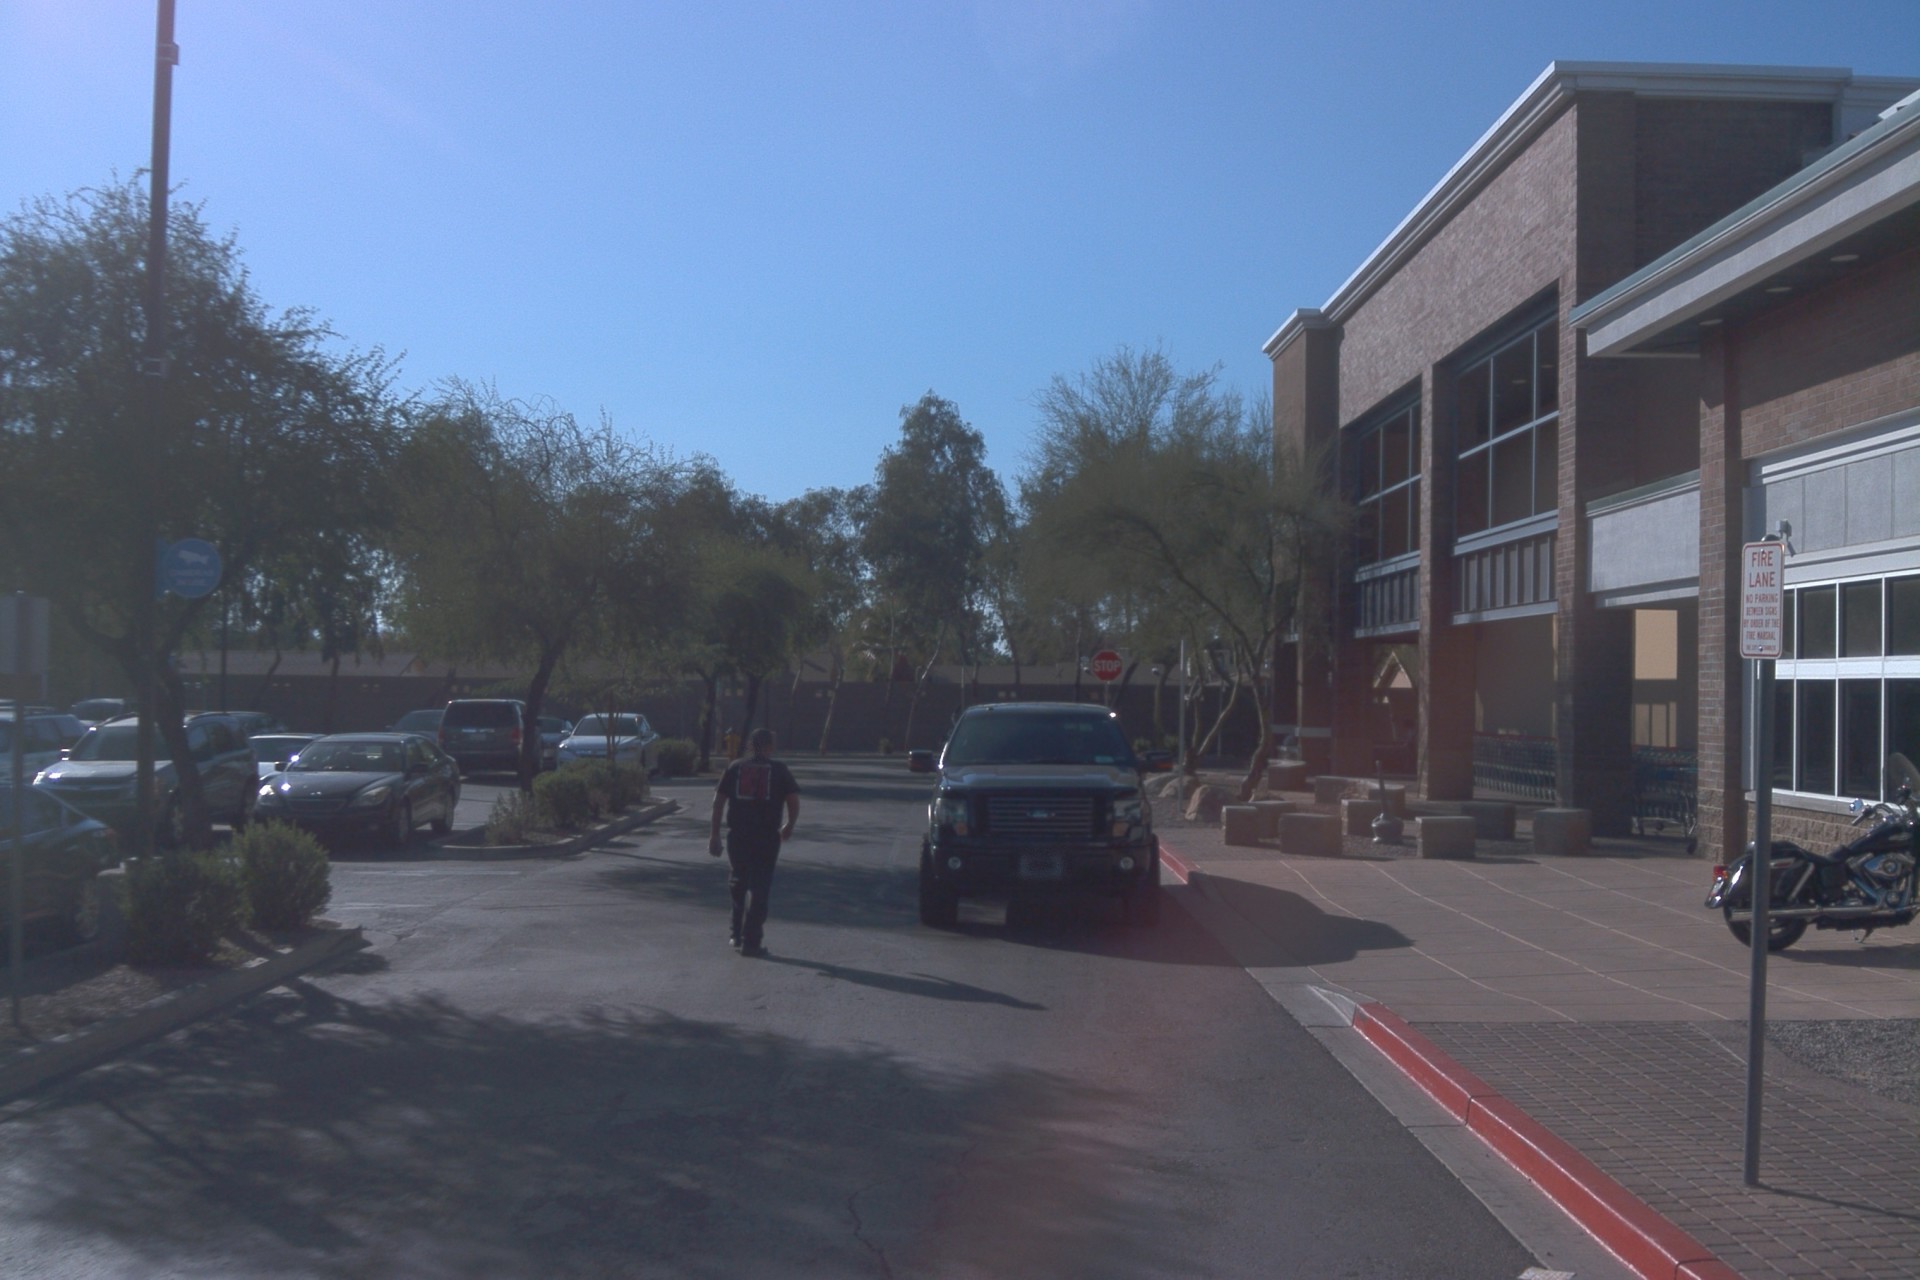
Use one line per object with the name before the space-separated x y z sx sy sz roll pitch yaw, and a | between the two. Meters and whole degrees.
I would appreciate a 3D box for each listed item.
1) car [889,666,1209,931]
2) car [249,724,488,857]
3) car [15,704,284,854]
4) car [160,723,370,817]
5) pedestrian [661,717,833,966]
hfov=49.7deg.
car | 0.739 1.394 20.194 2.654 2.190 5.666 -1 -1 0
car | -7.909 1.968 28.202 1.930 1.560 4.780 0 -1 -1
car | -10.837 1.795 28.129 1.885 1.820 4.573 -1 -1 0
car | -11.261 2.079 33.942 2.061 1.350 4.372 0 -1 -1
pedestrian | -1.660 1.556 16.393 1.078 1.870 1.181 -1 -1 9
